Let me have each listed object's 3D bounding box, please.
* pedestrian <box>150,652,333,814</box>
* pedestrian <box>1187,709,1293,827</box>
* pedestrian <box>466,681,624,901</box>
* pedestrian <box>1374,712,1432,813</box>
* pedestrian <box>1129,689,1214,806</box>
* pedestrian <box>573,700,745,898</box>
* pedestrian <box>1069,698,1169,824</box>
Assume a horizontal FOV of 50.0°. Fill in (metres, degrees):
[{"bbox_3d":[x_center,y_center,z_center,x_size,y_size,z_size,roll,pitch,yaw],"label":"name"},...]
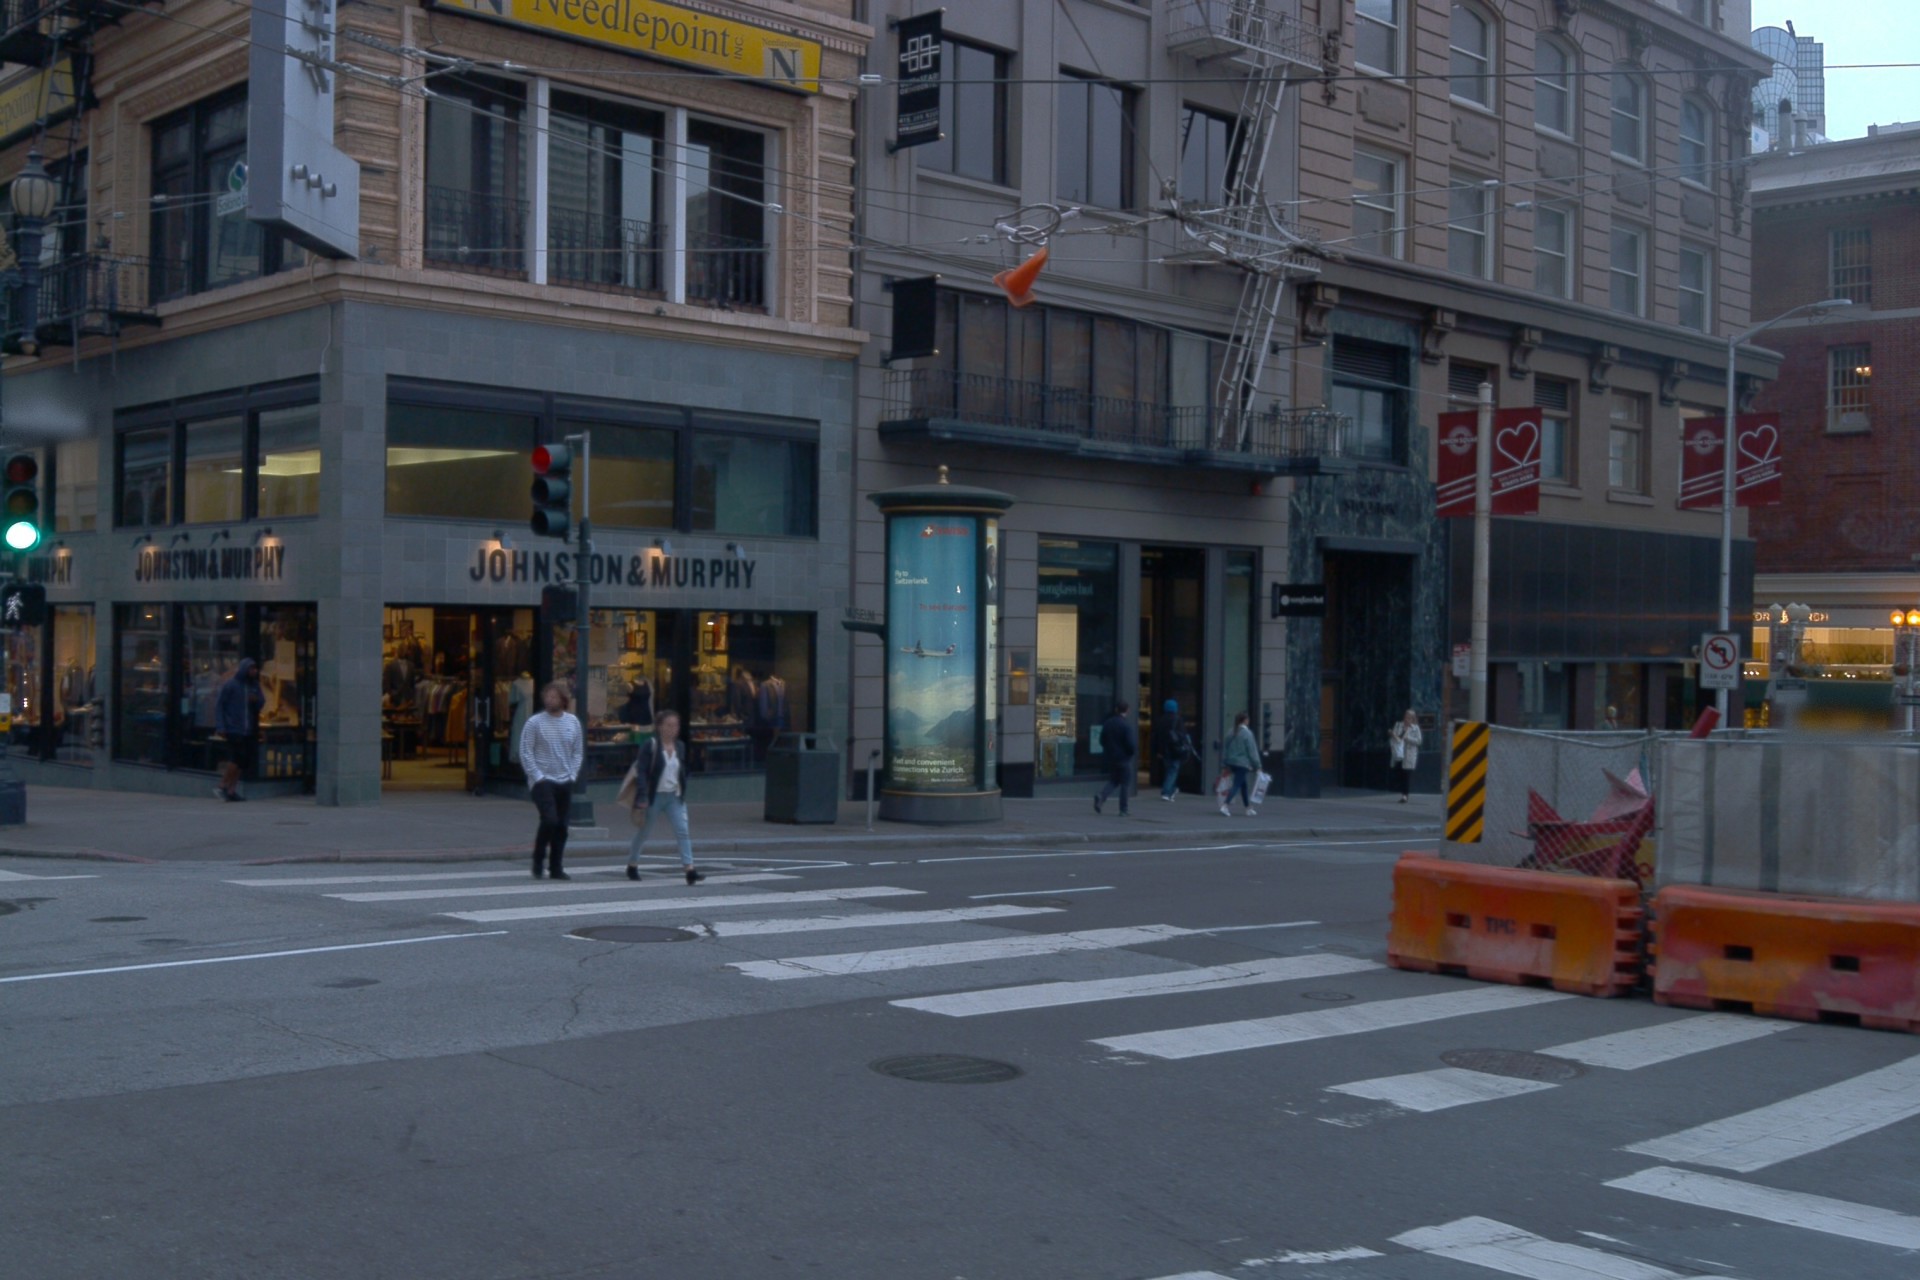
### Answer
[{"bbox_3d":[-8.994,1.124,25.776,1.642,1.930,1.453,0,0,30],"label":"pedestrian"},{"bbox_3d":[4.294,1.943,31.583,1.090,1.710,1.177,0,0,-42],"label":"pedestrian"},{"bbox_3d":[-3.704,1.310,18.365,0.999,1.860,1.001,0,0,-44],"label":"pedestrian"},{"bbox_3d":[8.091,2.221,37.544,0.689,1.760,0.953,0,0,38],"label":"pedestrian"},{"bbox_3d":[3.492,1.759,33.953,1.001,1.860,0.999,0,0,39],"label":"pedestrian"},{"bbox_3d":[-2.692,1.381,18.378,1.210,1.640,1.001,0,0,45],"label":"pedestrian"},{"bbox_3d":[2.322,1.749,30.078,1.110,1.760,0.954,0,0,-40],"label":"pedestrian"}]
